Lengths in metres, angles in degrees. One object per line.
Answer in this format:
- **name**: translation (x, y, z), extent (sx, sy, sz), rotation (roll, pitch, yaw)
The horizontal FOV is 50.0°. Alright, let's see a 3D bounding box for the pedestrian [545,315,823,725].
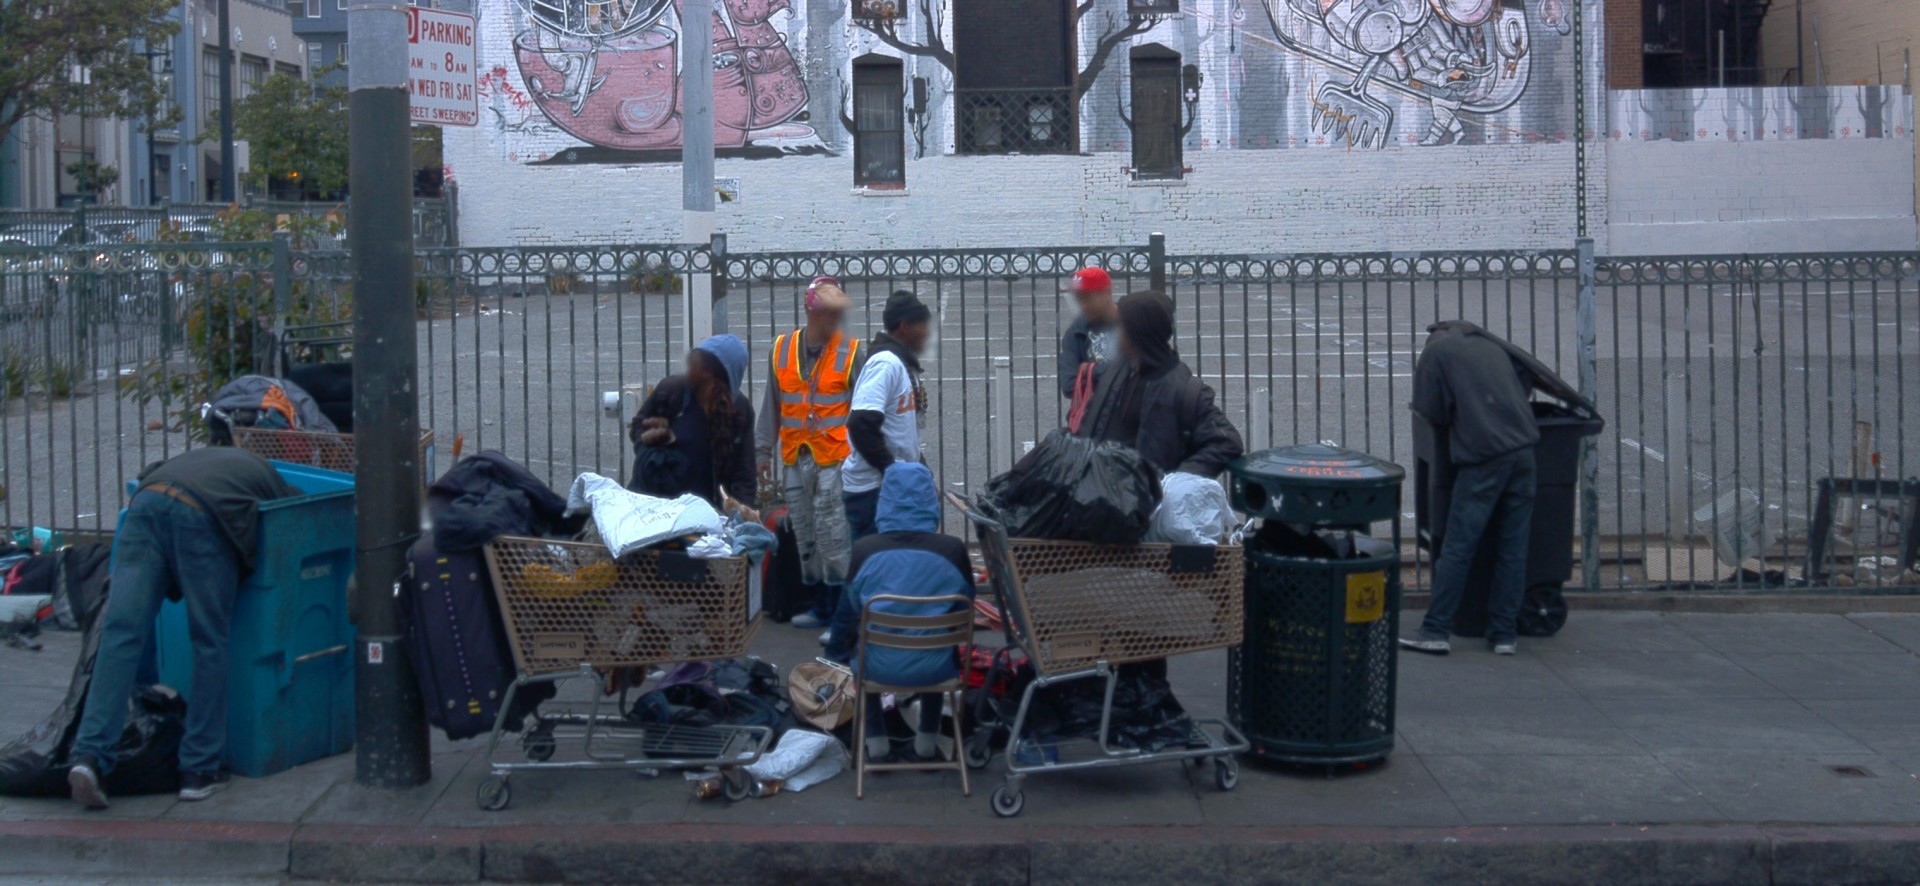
- **pedestrian**: translation (-1.183, 0.292, 8.966), extent (1.017, 1.657, 0.735), rotation (0, 2, 11)

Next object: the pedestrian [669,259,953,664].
- **pedestrian**: translation (-0.724, 0.027, 10.029), extent (1.111, 1.827, 0.829), rotation (2, 3, 36)

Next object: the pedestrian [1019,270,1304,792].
- **pedestrian**: translation (0.801, 0.281, 8.172), extent (0.854, 1.907, 0.746), rotation (2, 2, 39)

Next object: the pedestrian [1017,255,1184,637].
- **pedestrian**: translation (0.686, -0.017, 10.272), extent (0.786, 1.827, 0.723), rotation (0, 2, 0)

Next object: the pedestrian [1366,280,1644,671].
- **pedestrian**: translation (2.597, 0.116, 9.909), extent (1.086, 1.777, 0.844), rotation (0, 2, -3)

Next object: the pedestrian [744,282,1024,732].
- **pedestrian**: translation (-0.315, 0.212, 8.811), extent (0.888, 1.767, 0.831), rotation (1, 2, 31)

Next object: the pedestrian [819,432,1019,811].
- **pedestrian**: translation (-0.137, 0.633, 7.680), extent (0.708, 1.278, 0.715), rotation (0, 2, 2)
